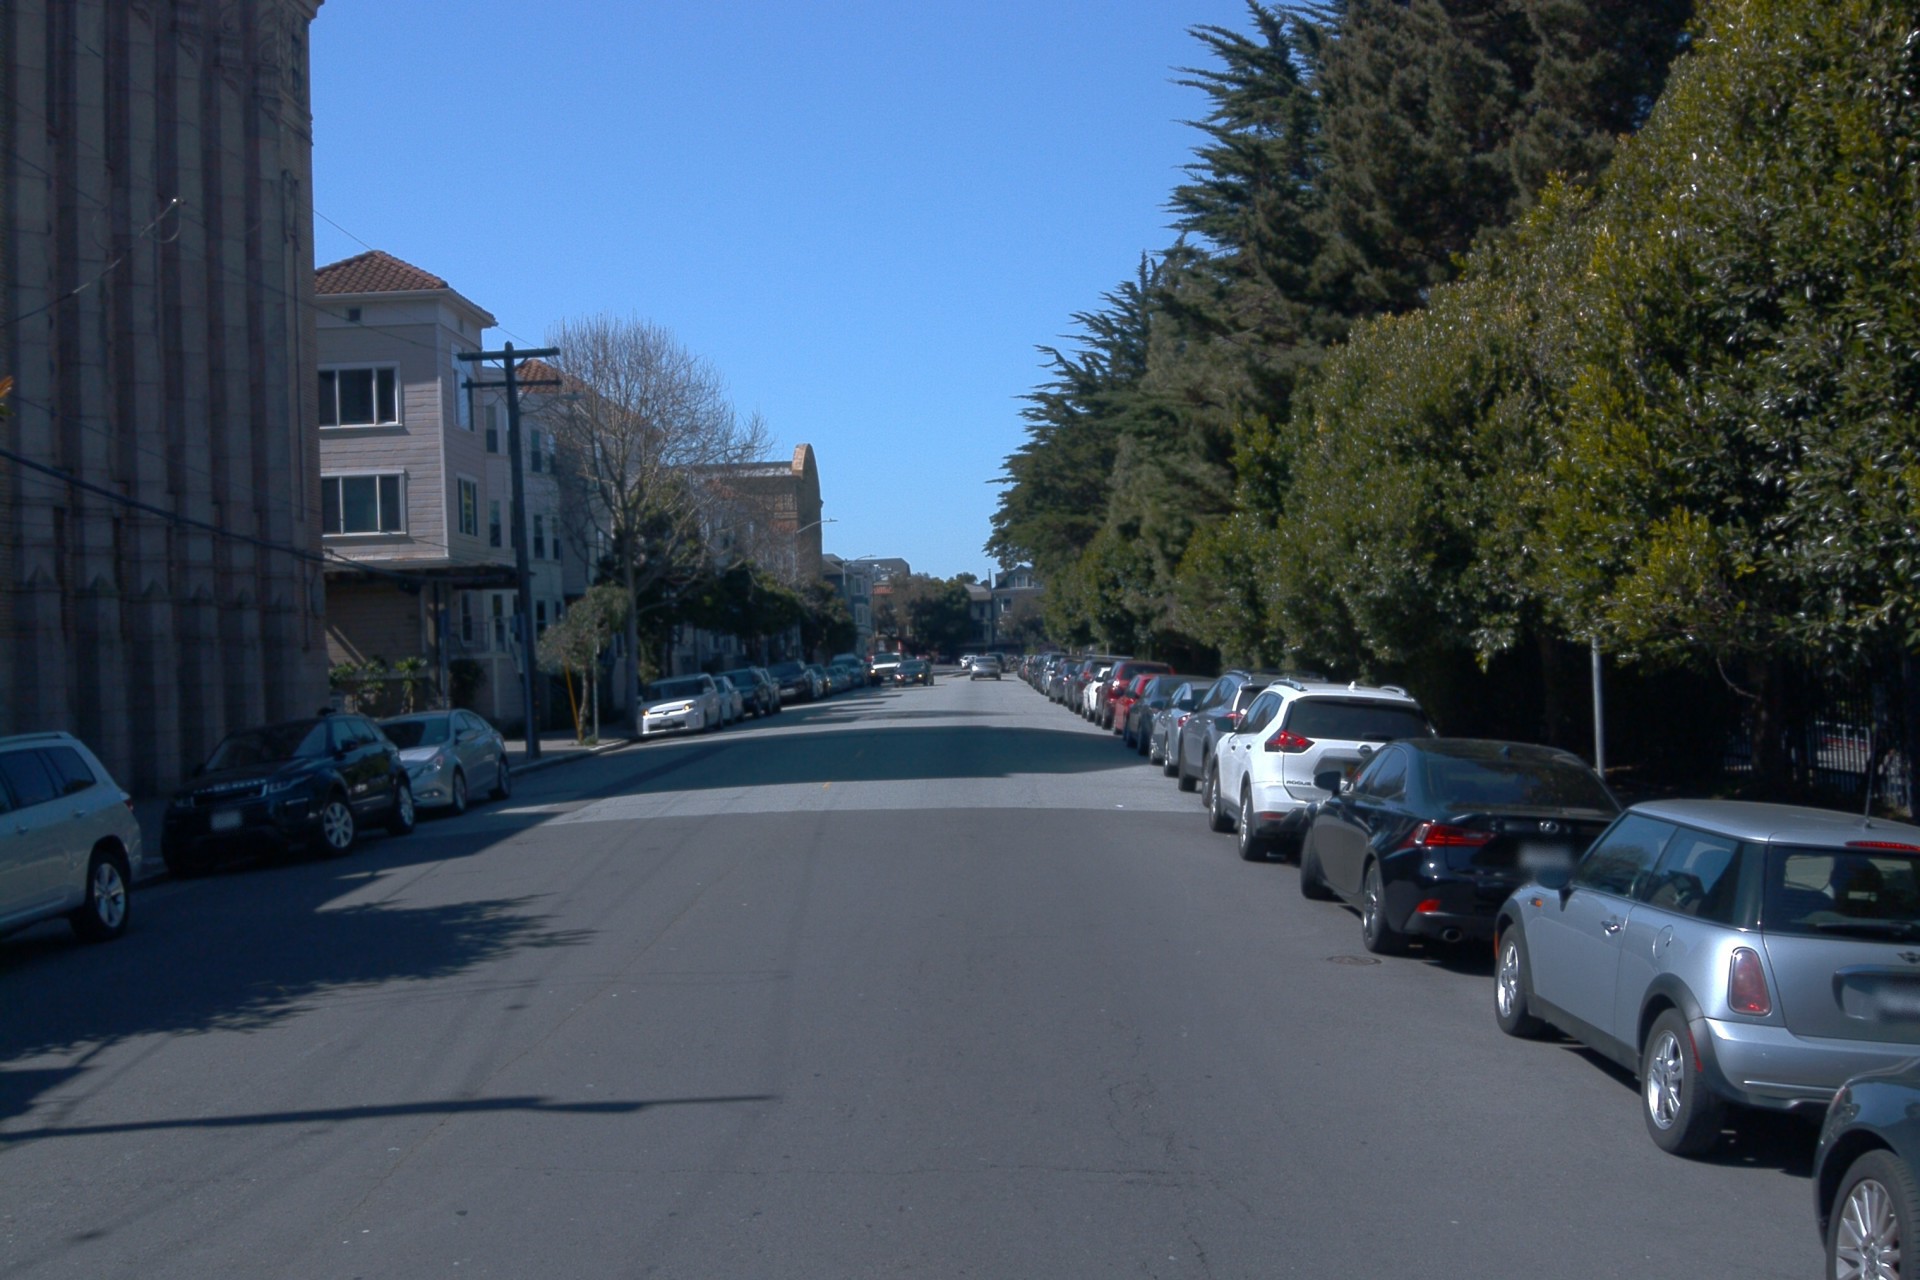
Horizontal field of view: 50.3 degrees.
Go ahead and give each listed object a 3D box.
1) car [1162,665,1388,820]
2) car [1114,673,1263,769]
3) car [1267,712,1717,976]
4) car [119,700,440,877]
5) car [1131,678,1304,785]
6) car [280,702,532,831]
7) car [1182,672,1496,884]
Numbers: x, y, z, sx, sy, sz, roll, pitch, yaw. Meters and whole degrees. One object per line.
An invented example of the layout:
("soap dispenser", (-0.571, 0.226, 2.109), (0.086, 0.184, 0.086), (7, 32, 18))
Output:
("car", (3.922, 1.226, 26.305), (2.159, 1.710, 4.706), (1, 0, 0))
("car", (4.111, 1.431, 37.583), (2.120, 1.510, 4.978), (1, 0, -1))
("car", (3.641, 1.341, 15.003), (2.050, 1.420, 4.776), (1, 0, 0))
("car", (-7.759, 1.632, 23.847), (2.150, 1.690, 4.574), (1, 0, 1))
("car", (3.910, 1.364, 31.874), (2.038, 1.410, 4.972), (1, 0, 0))
("car", (-7.797, 1.742, 29.339), (2.231, 1.500, 4.942), (1, 0, 0))
("car", (3.605, 1.253, 20.431), (2.194, 1.750, 4.826), (1, 0, 0))
